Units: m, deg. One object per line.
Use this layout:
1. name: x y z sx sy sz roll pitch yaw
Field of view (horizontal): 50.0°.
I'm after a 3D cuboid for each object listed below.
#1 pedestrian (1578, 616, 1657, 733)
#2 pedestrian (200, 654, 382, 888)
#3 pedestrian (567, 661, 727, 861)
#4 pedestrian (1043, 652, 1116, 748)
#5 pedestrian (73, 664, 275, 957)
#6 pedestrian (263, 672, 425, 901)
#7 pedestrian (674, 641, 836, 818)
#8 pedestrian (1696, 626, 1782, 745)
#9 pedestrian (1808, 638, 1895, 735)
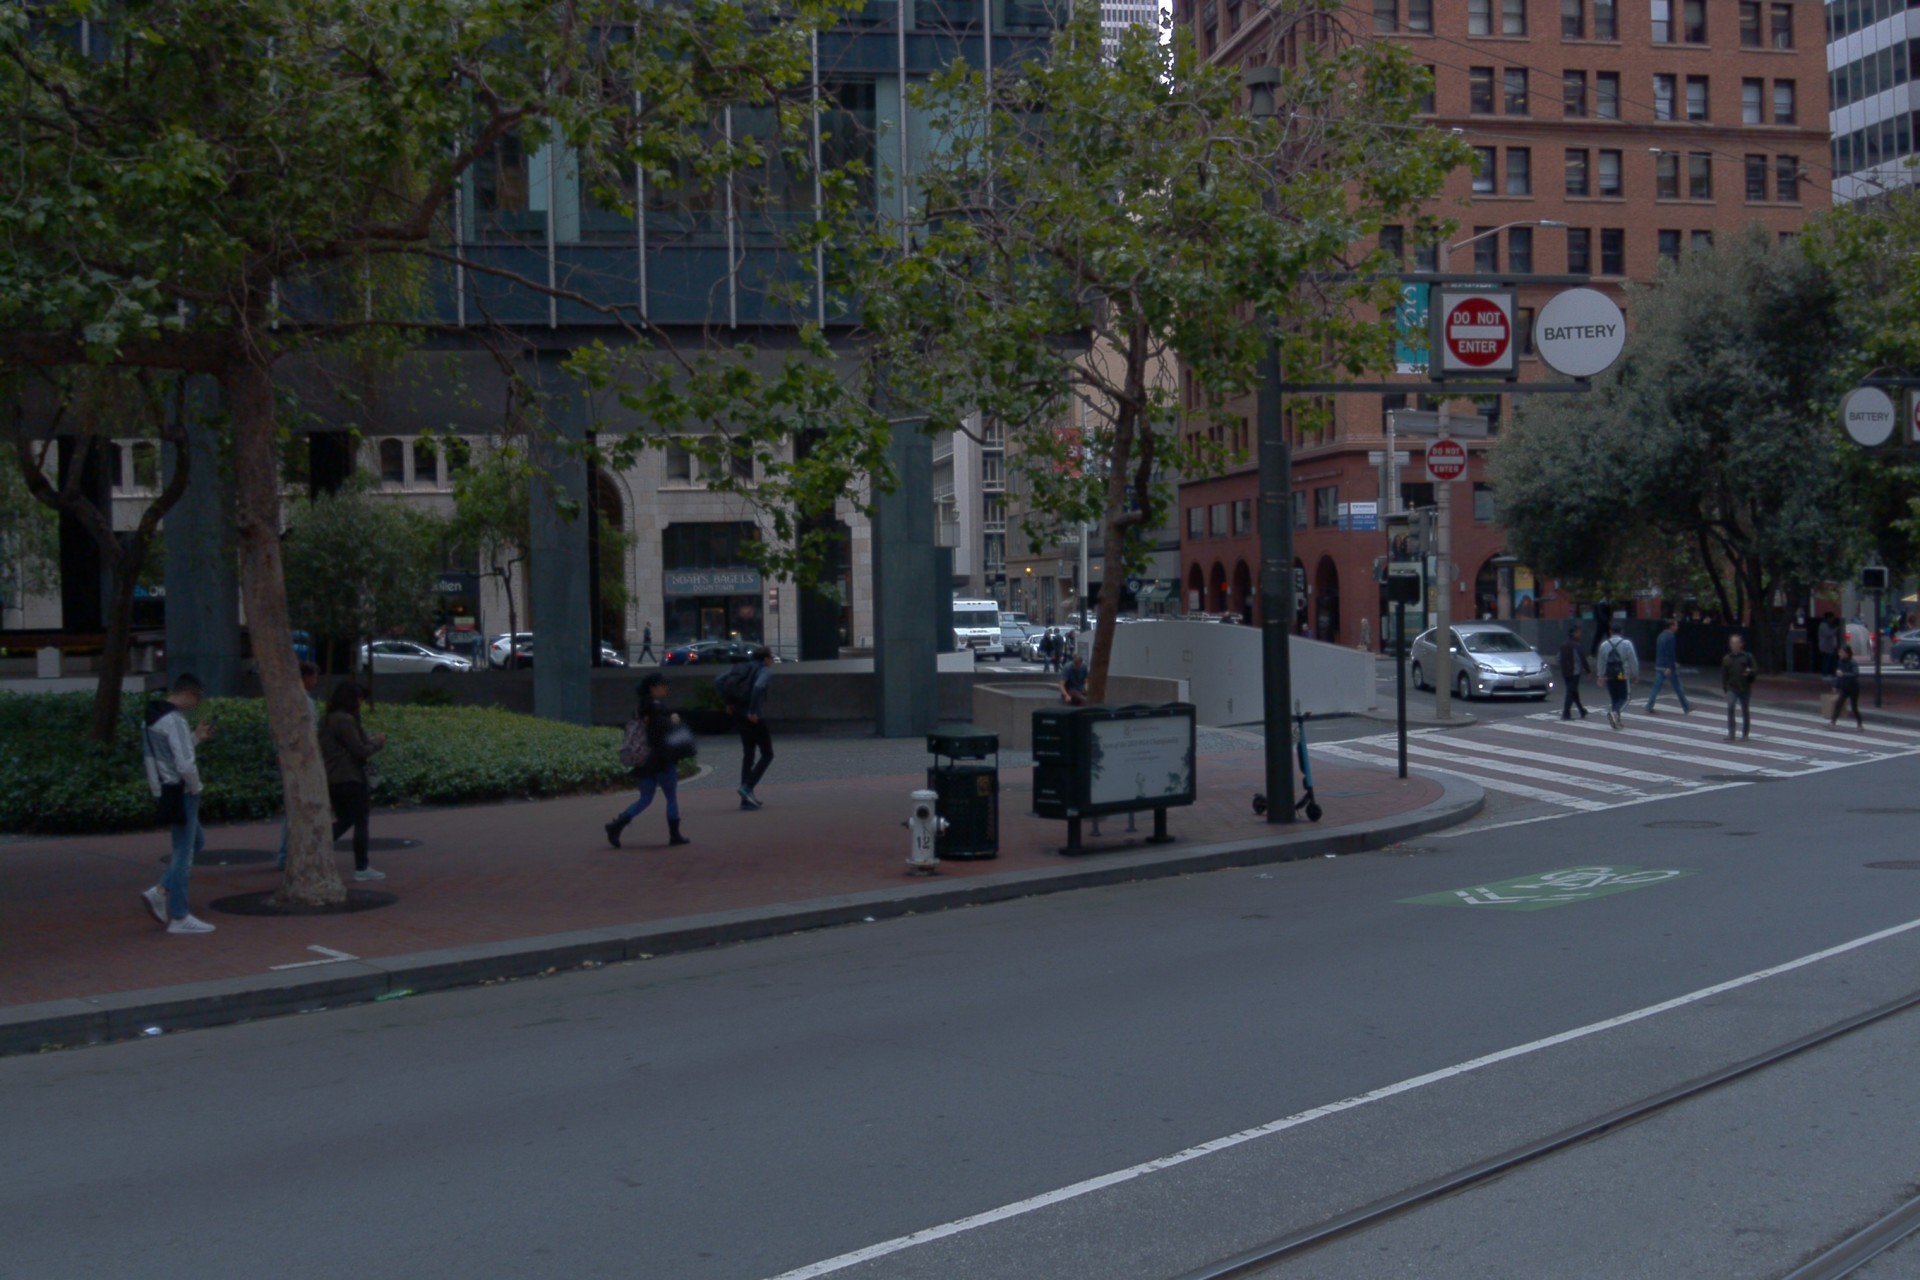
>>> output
1. pedestrian: 11.477 0.580 35.888 0.945 2.000 1.109 1 1 41
2. pedestrian: -5.663 1.070 17.436 1.189 1.880 0.885 -1 1 -45
3. pedestrian: -2.931 1.097 19.238 1.062 1.770 1.050 -1 1 -45
4. pedestrian: 1.968 0.979 33.932 1.128 1.560 0.931 0 1 -2
5. pedestrian: -5.471 1.145 14.331 1.125 1.920 0.742 -1 1 -40
6. pedestrian: -5.014 1.159 16.762 1.016 1.770 0.768 -1 1 -44
7. pedestrian: -2.249 0.946 22.602 1.138 1.840 1.362 1 1 43
8. pedestrian: 12.722 0.725 33.587 1.011 1.900 1.065 1 1 39
9. pedestrian: 15.284 0.789 35.285 1.051 1.620 0.888 0 1 -12
